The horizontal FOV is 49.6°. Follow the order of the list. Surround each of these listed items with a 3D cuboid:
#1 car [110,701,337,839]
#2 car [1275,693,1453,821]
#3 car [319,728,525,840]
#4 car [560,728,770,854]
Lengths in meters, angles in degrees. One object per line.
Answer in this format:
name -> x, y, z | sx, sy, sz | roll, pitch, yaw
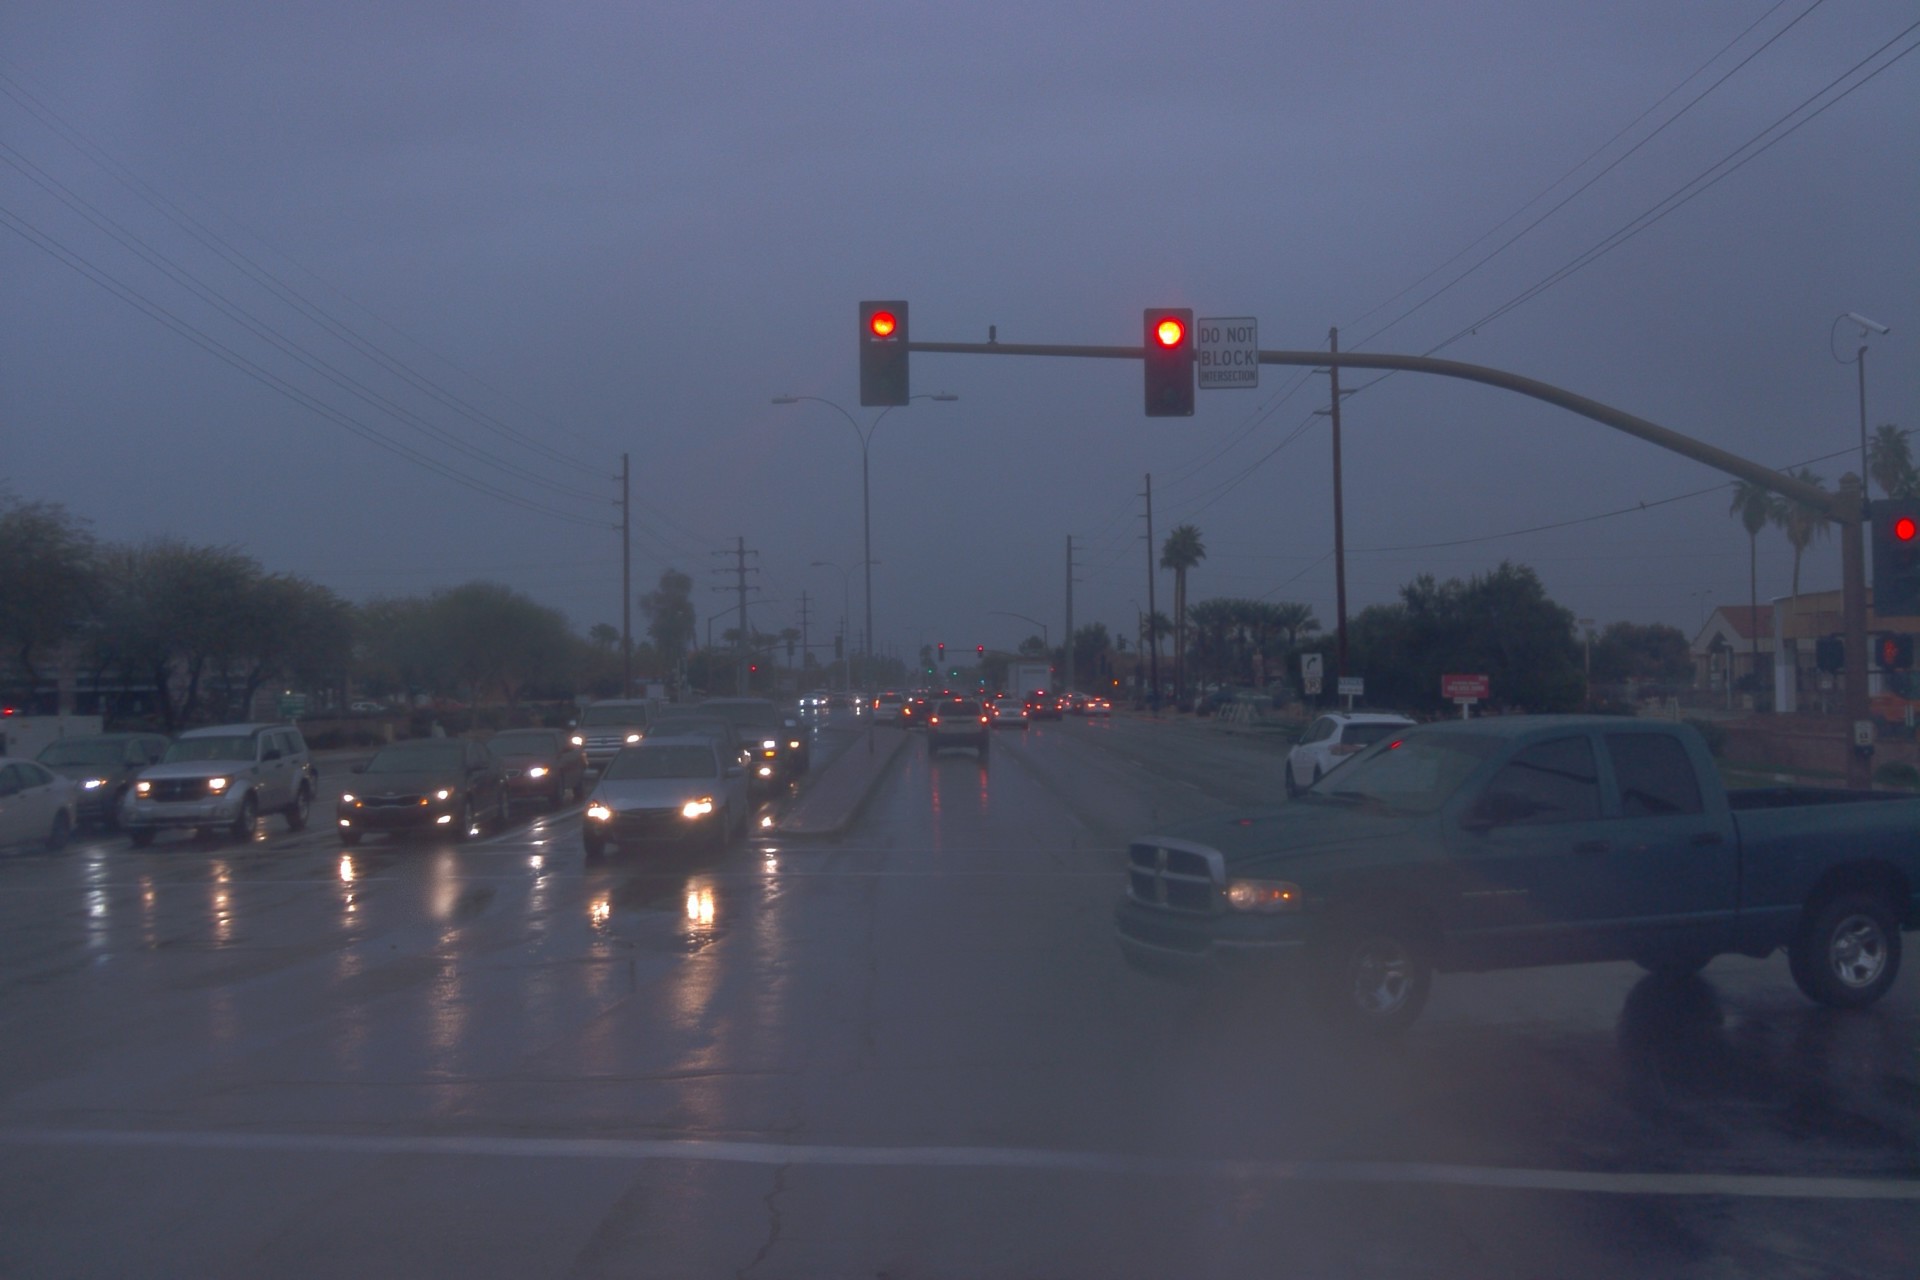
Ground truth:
car -> -11.708, 2.013, 33.355 | 2.052, 2.020, 4.497 | 0, -1, 0
car -> 6.609, 1.874, 34.469 | 2.025, 1.940, 4.546 | 0, -1, 0
car -> -8.040, 2.117, 31.497 | 2.042, 1.440, 4.763 | 0, -1, -2
car -> -3.794, 1.934, 27.539 | 2.102, 1.410, 4.605 | 0, -1, 1
